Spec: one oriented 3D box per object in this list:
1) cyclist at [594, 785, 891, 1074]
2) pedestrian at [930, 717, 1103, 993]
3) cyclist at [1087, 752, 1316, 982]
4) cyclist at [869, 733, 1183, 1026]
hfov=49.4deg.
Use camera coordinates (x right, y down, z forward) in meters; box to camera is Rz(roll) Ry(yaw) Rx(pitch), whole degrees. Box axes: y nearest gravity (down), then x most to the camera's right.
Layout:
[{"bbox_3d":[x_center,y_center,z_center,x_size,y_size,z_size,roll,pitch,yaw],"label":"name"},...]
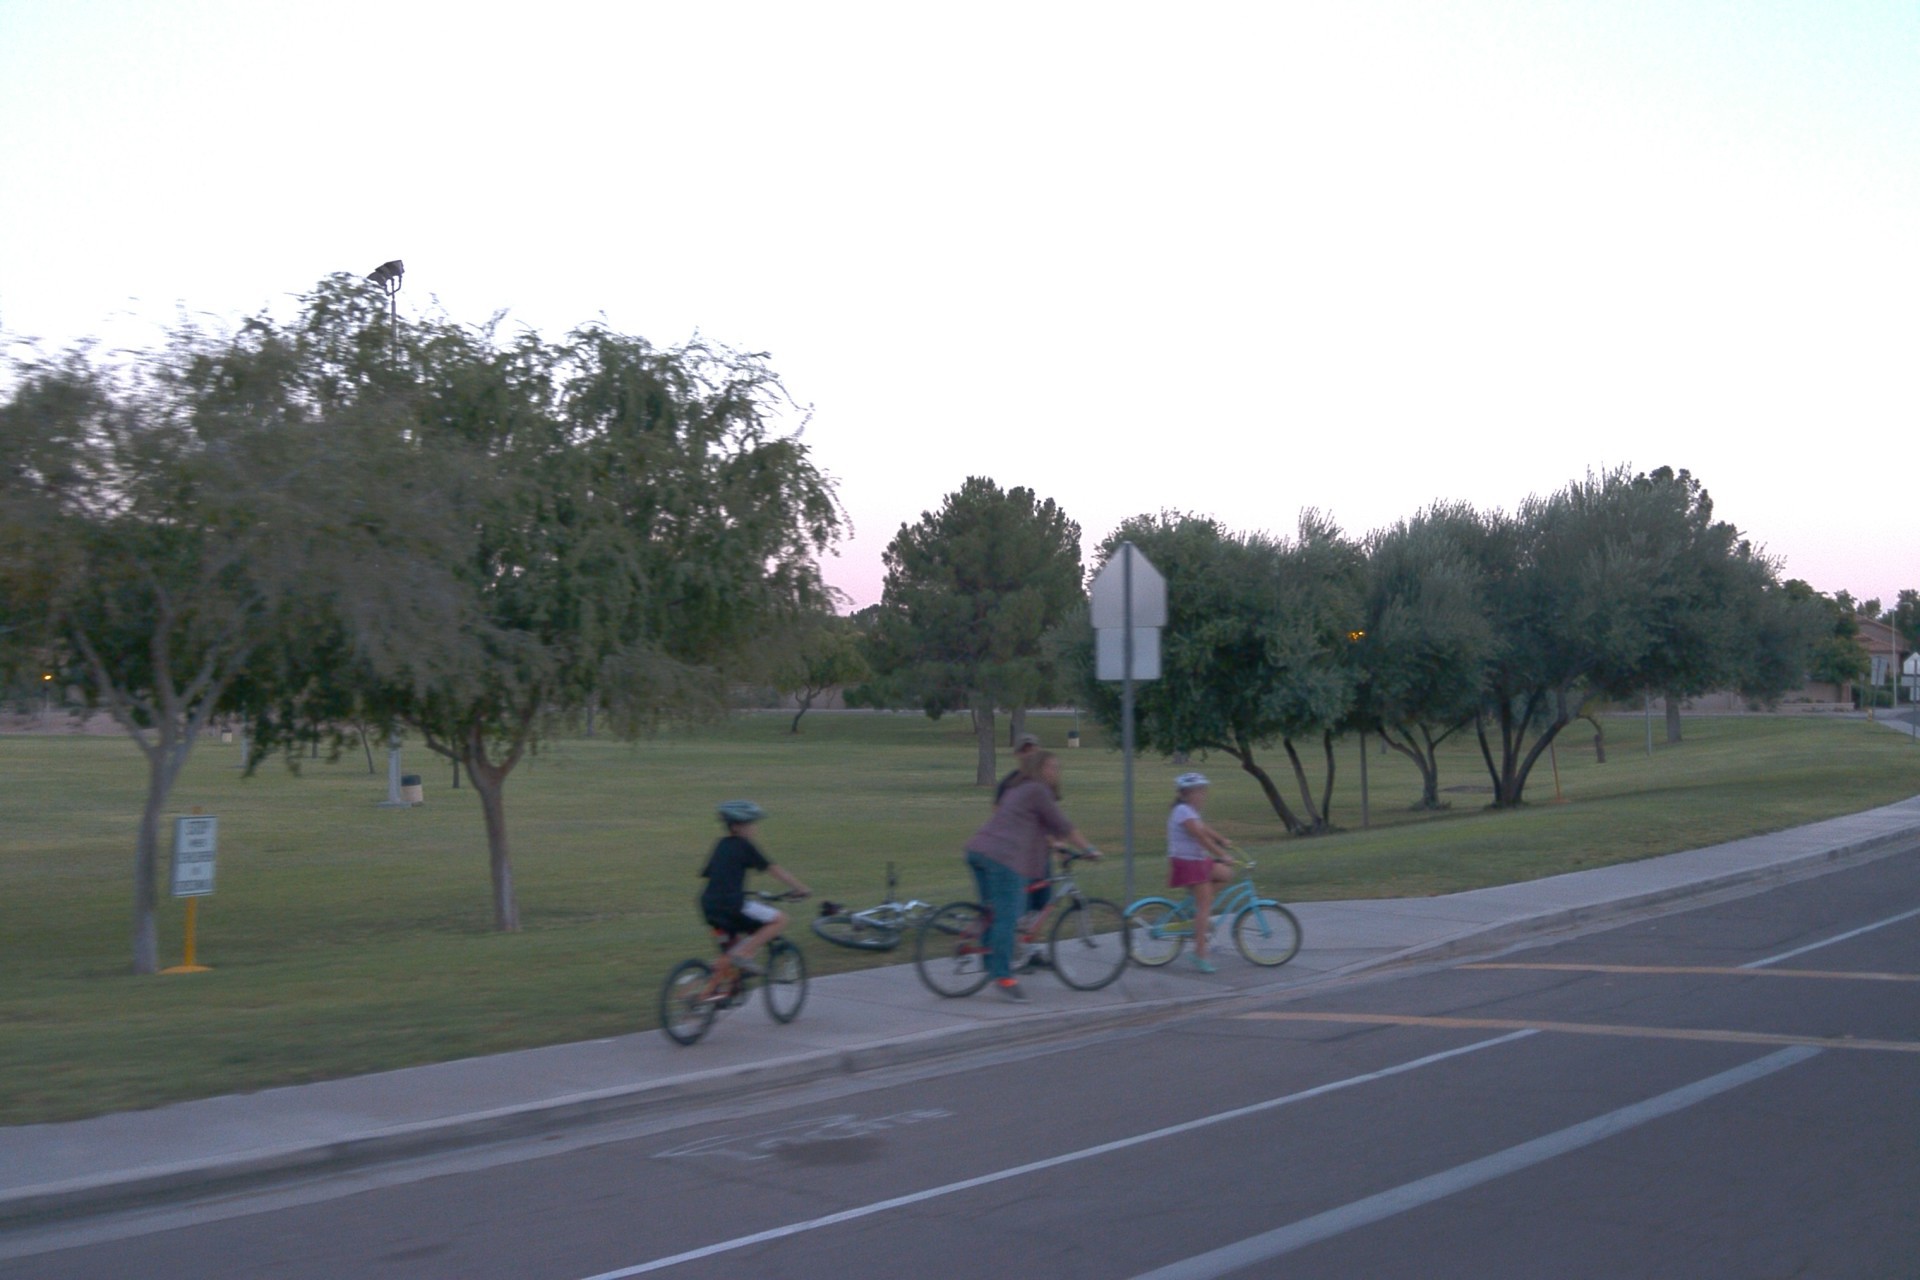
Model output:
[{"bbox_3d":[-1.251,1.641,12.269,0.771,1.460,1.642,0,0,41],"label":"cyclist"},{"bbox_3d":[0.402,1.489,14.870,0.835,1.840,0.887,0,0,45],"label":"pedestrian"},{"bbox_3d":[1.789,1.671,15.619,1.577,1.630,0.727,0,0,-6],"label":"cyclist"},{"bbox_3d":[0.453,1.540,13.951,1.967,1.770,0.805,0,0,-32],"label":"cyclist"}]
